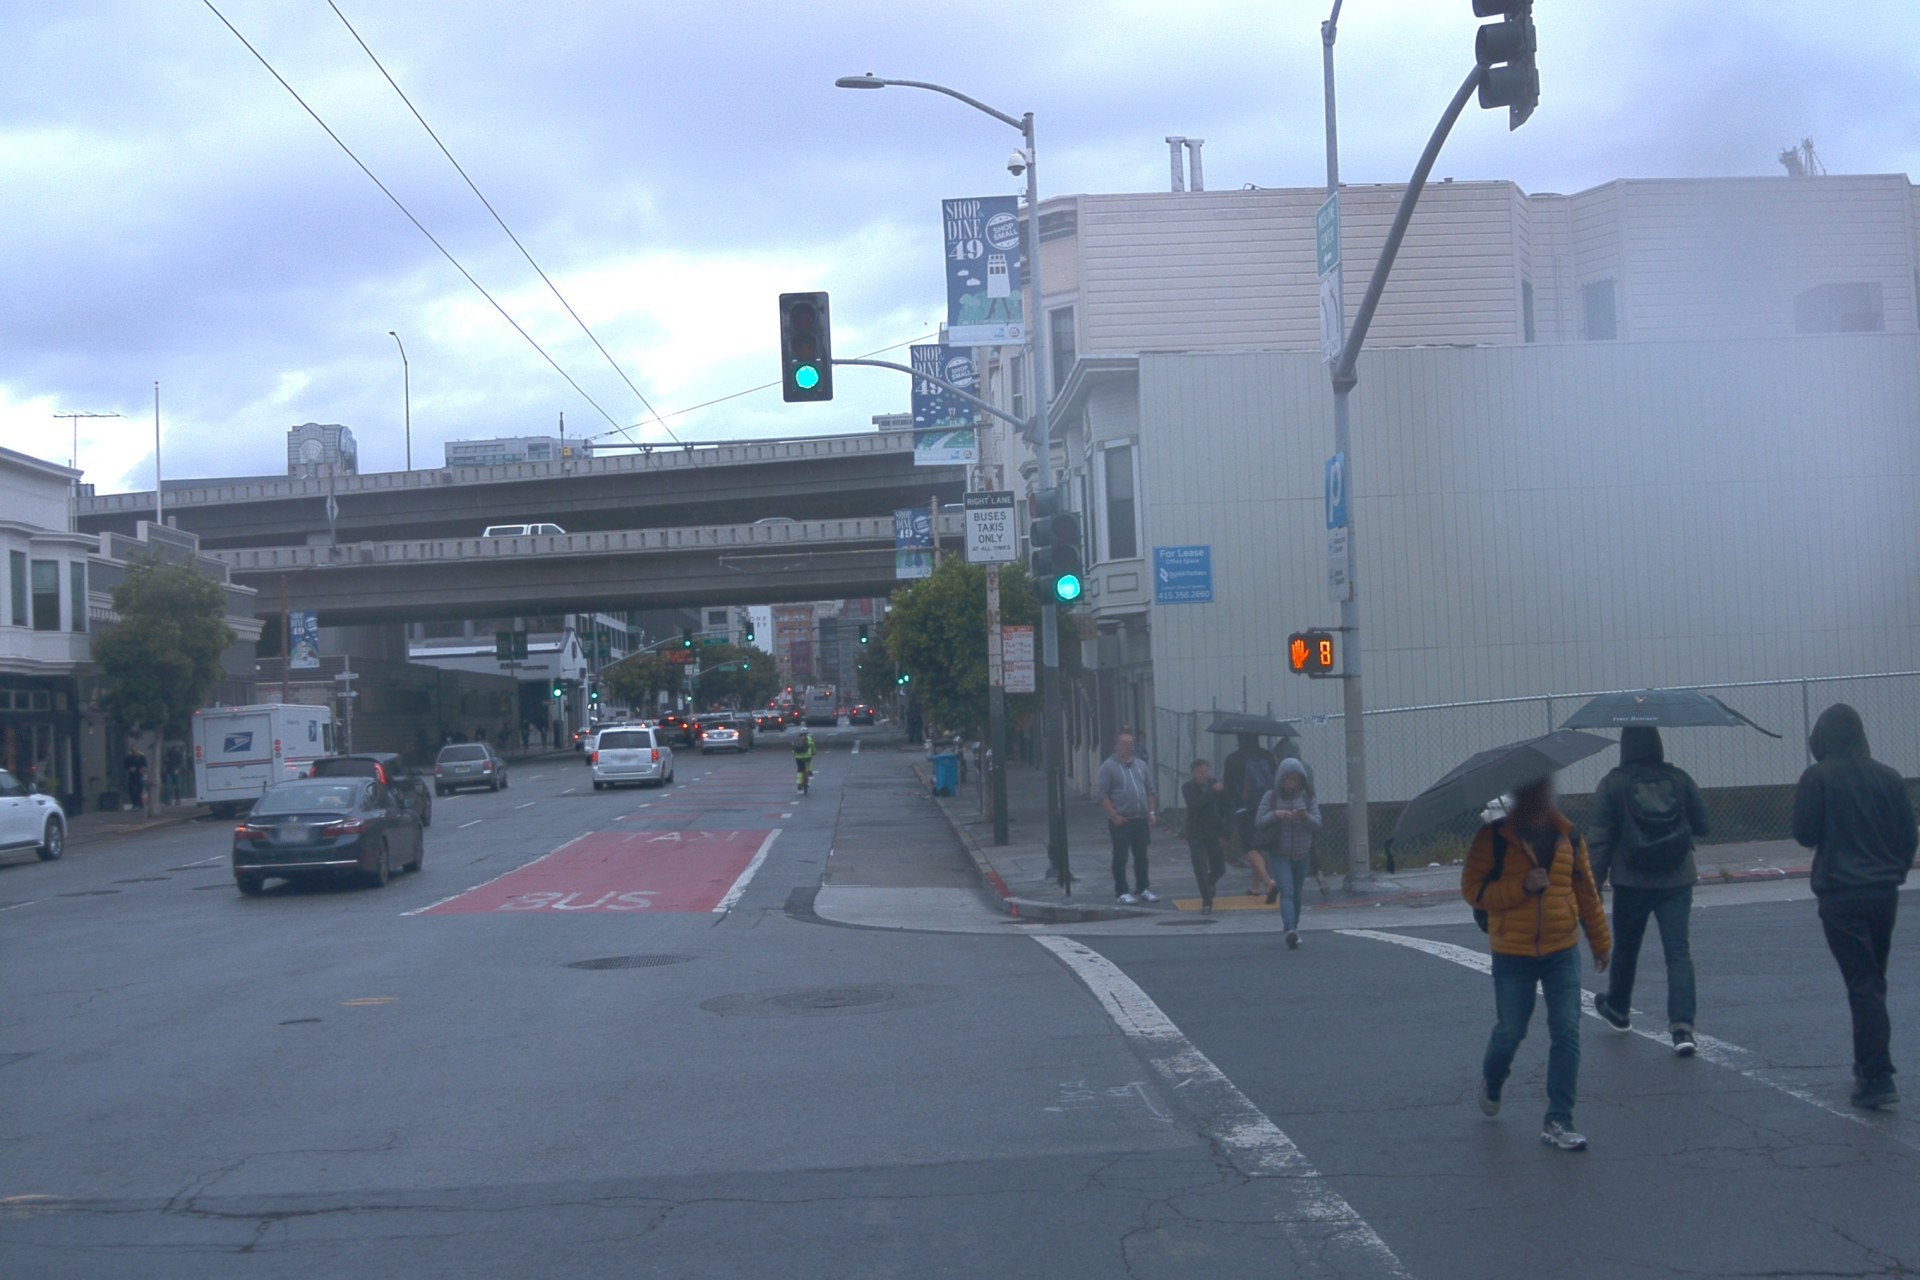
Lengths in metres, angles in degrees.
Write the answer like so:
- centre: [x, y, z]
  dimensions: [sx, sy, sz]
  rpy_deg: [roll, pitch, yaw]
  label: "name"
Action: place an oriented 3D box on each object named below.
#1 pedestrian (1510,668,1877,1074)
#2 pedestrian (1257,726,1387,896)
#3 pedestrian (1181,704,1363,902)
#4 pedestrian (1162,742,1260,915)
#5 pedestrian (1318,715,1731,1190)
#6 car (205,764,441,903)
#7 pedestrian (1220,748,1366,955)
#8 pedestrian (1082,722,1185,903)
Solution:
- centre: [3.791, 1.139, 10.921]
  dimensions: [1.351, 1.976, 1.599]
  rpy_deg: [0, -1, 0]
  label: "pedestrian"
- centre: [3.797, 1.772, 21.835]
  dimensions: [0.990, 1.692, 1.085]
  rpy_deg: [0, -1, -14]
  label: "pedestrian"
- centre: [3.296, 1.687, 22.039]
  dimensions: [1.410, 1.988, 1.525]
  rpy_deg: [0, -1, -15]
  label: "pedestrian"
- centre: [2.546, 1.896, 21.121]
  dimensions: [0.810, 1.680, 1.024]
  rpy_deg: [0, -1, -3]
  label: "pedestrian"
- centre: [2.303, 1.228, 8.688]
  dimensions: [1.299, 1.790, 1.323]
  rpy_deg: [0, -1, -4]
  label: "pedestrian"
- centre: [-8.569, 2.558, 28.364]
  dimensions: [2.107, 1.490, 4.922]
  rpy_deg: [0, -1, -5]
  label: "car"
- centre: [2.642, 1.660, 16.548]
  dimensions: [1.000, 1.560, 1.000]
  rpy_deg: [0, -1, 0]
  label: "pedestrian"
- centre: [1.827, 1.803, 21.897]
  dimensions: [0.843, 1.837, 0.755]
  rpy_deg: [0, -1, -19]
  label: "pedestrian"
